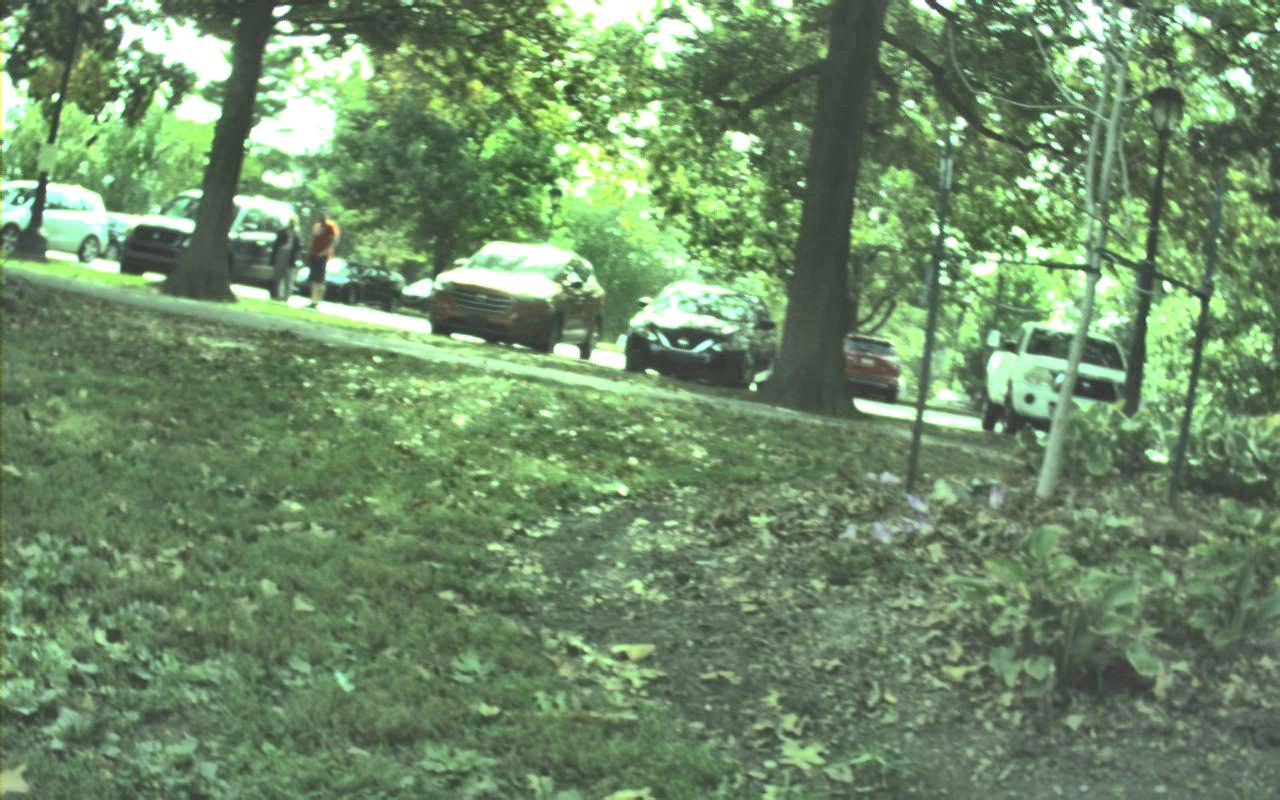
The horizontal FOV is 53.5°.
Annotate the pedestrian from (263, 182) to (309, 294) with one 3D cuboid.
[{"bbox_3d":[-6.139,-2.764,21.068,0.701,1.862,0.690,0,0,-23],"label":"pedestrian"}]

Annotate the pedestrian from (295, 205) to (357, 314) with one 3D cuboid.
[{"bbox_3d":[-5.539,-2.437,21.638,0.831,1.837,0.812,0,0,-38],"label":"pedestrian"}]

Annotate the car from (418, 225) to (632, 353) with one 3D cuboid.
[{"bbox_3d":[-1.619,-1.587,19.393,1.963,1.655,4.532,1,1,13],"label":"car"}]

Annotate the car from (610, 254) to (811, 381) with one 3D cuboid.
[{"bbox_3d":[1.176,-1.097,18.260,1.953,1.603,4.457,1,1,16],"label":"car"}]

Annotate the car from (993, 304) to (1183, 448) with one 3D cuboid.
[{"bbox_3d":[6.303,-0.328,17.434,2.048,1.804,4.842,1,1,10],"label":"car"}]

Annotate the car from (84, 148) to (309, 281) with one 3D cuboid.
[{"bbox_3d":[-7.593,-3.062,20.674,2.044,1.748,4.613,1,1,9],"label":"car"}]

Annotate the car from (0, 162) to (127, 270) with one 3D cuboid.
[{"bbox_3d":[-12.527,-3.578,22.798,1.951,1.684,4.501,1,1,17],"label":"car"}]
